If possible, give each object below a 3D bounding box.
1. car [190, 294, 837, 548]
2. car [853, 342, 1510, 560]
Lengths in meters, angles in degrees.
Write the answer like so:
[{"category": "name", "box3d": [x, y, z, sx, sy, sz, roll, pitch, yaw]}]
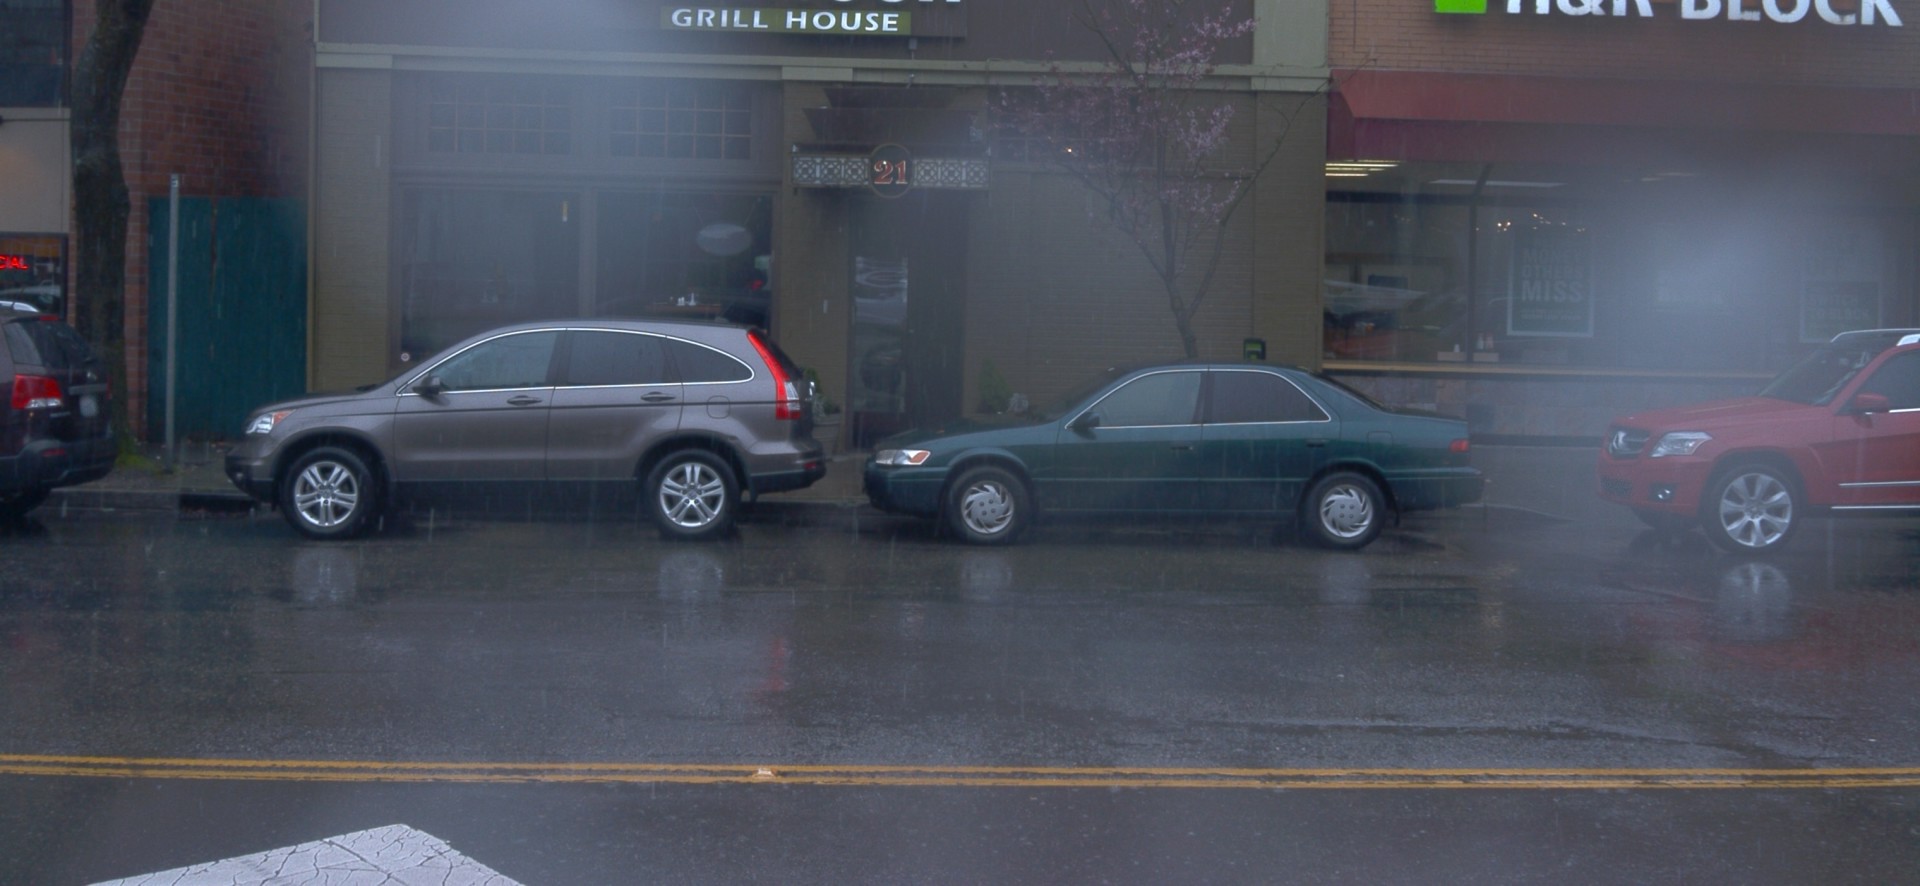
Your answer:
[{"category": "car", "box3d": [-3.281, -0.217, 15.797, 4.605, 1.724, 1.918, 0, 4, -5]}, {"category": "car", "box3d": [1.593, 0.015, 15.965, 4.796, 1.414, 1.988, 1, 5, -2]}]
